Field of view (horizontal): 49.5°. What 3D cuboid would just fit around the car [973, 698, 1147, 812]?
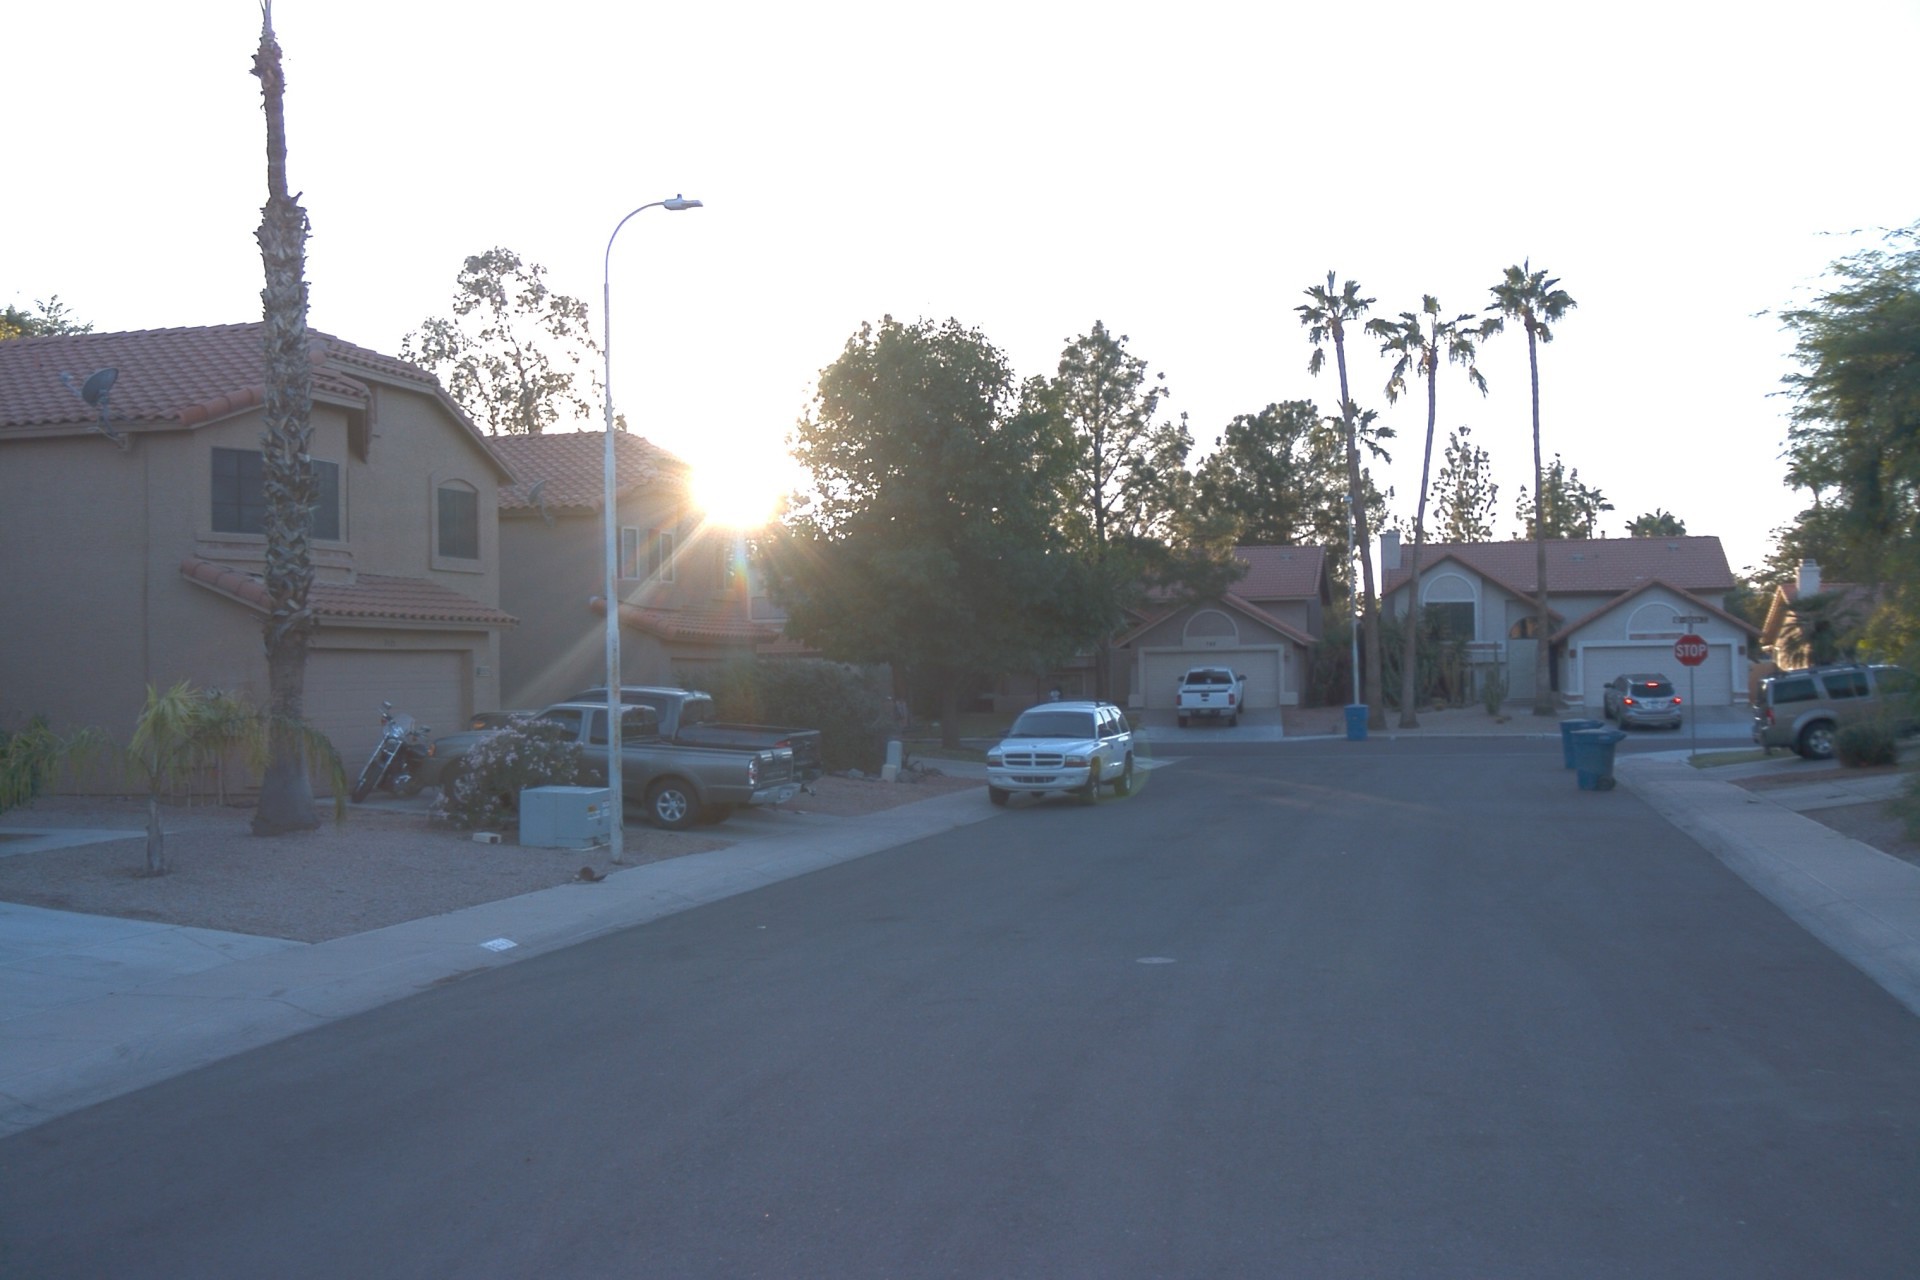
[{"bbox_3d":[1.858,1.967,36.811,2.045,1.830,4.912,-1,-1,15],"label":"car"}]

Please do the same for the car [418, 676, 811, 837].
[{"bbox_3d":[-4.778,1.579,28.993,5.030,2.130,1.968,0,-1,13],"label":"car"}]

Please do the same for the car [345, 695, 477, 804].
[{"bbox_3d":[-7.798,1.535,29.670,0.914,1.480,2.175,0,-1,13],"label":"car"}]

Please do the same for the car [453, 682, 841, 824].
[{"bbox_3d":[-4.732,1.673,31.683,5.410,2.030,2.214,0,-1,14],"label":"car"}]
